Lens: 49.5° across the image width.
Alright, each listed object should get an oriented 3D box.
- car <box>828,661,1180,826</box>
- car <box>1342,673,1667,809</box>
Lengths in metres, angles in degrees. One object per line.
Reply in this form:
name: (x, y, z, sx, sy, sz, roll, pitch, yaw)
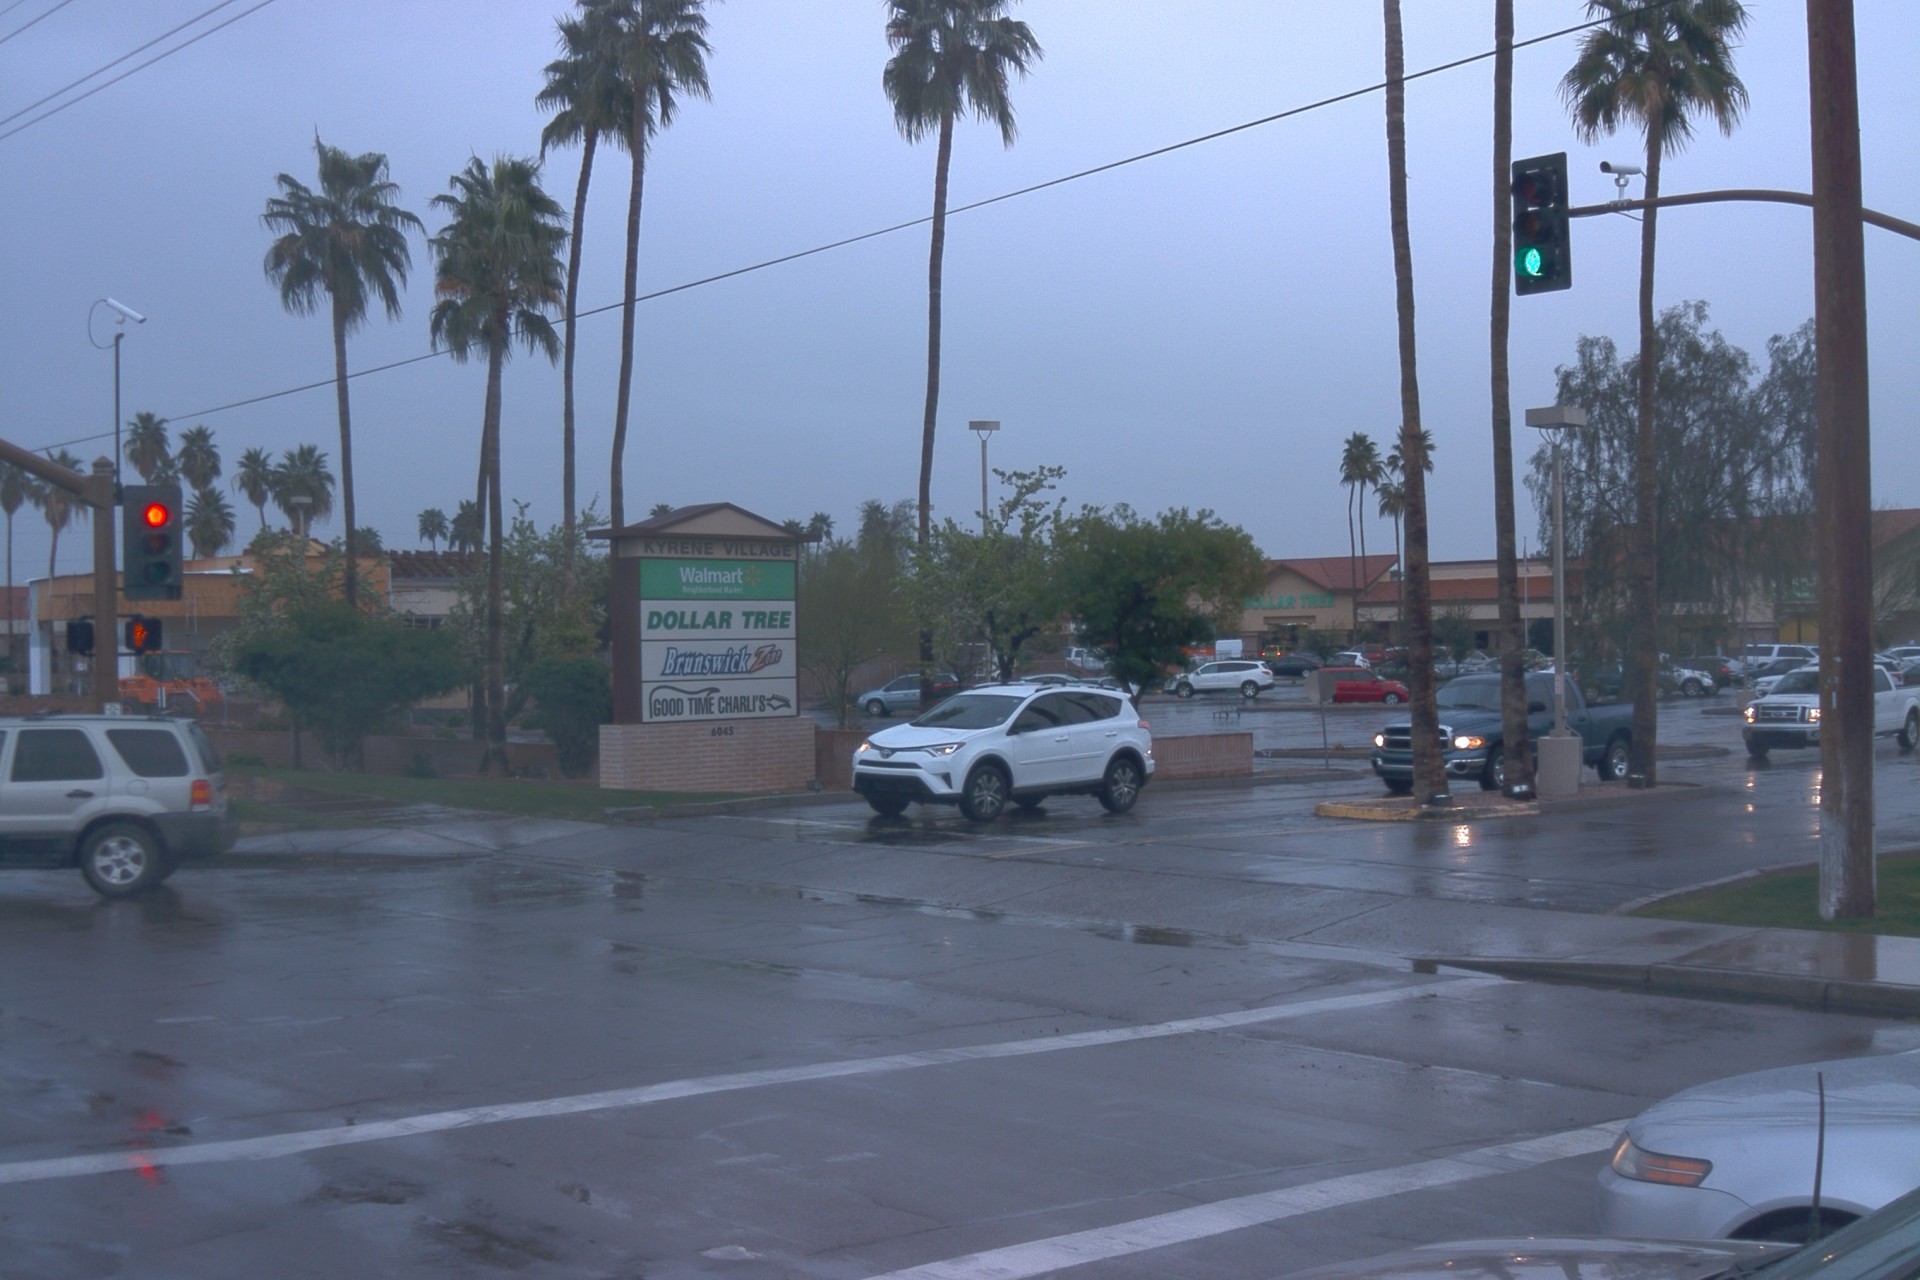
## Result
car: (0.651, 1.242, 26.877, 2.037, 1.940, 4.519, 0, -1, 43)
car: (8.951, 1.549, 33.905, 5.767, 2.000, 2.433, 1, -1, -44)
